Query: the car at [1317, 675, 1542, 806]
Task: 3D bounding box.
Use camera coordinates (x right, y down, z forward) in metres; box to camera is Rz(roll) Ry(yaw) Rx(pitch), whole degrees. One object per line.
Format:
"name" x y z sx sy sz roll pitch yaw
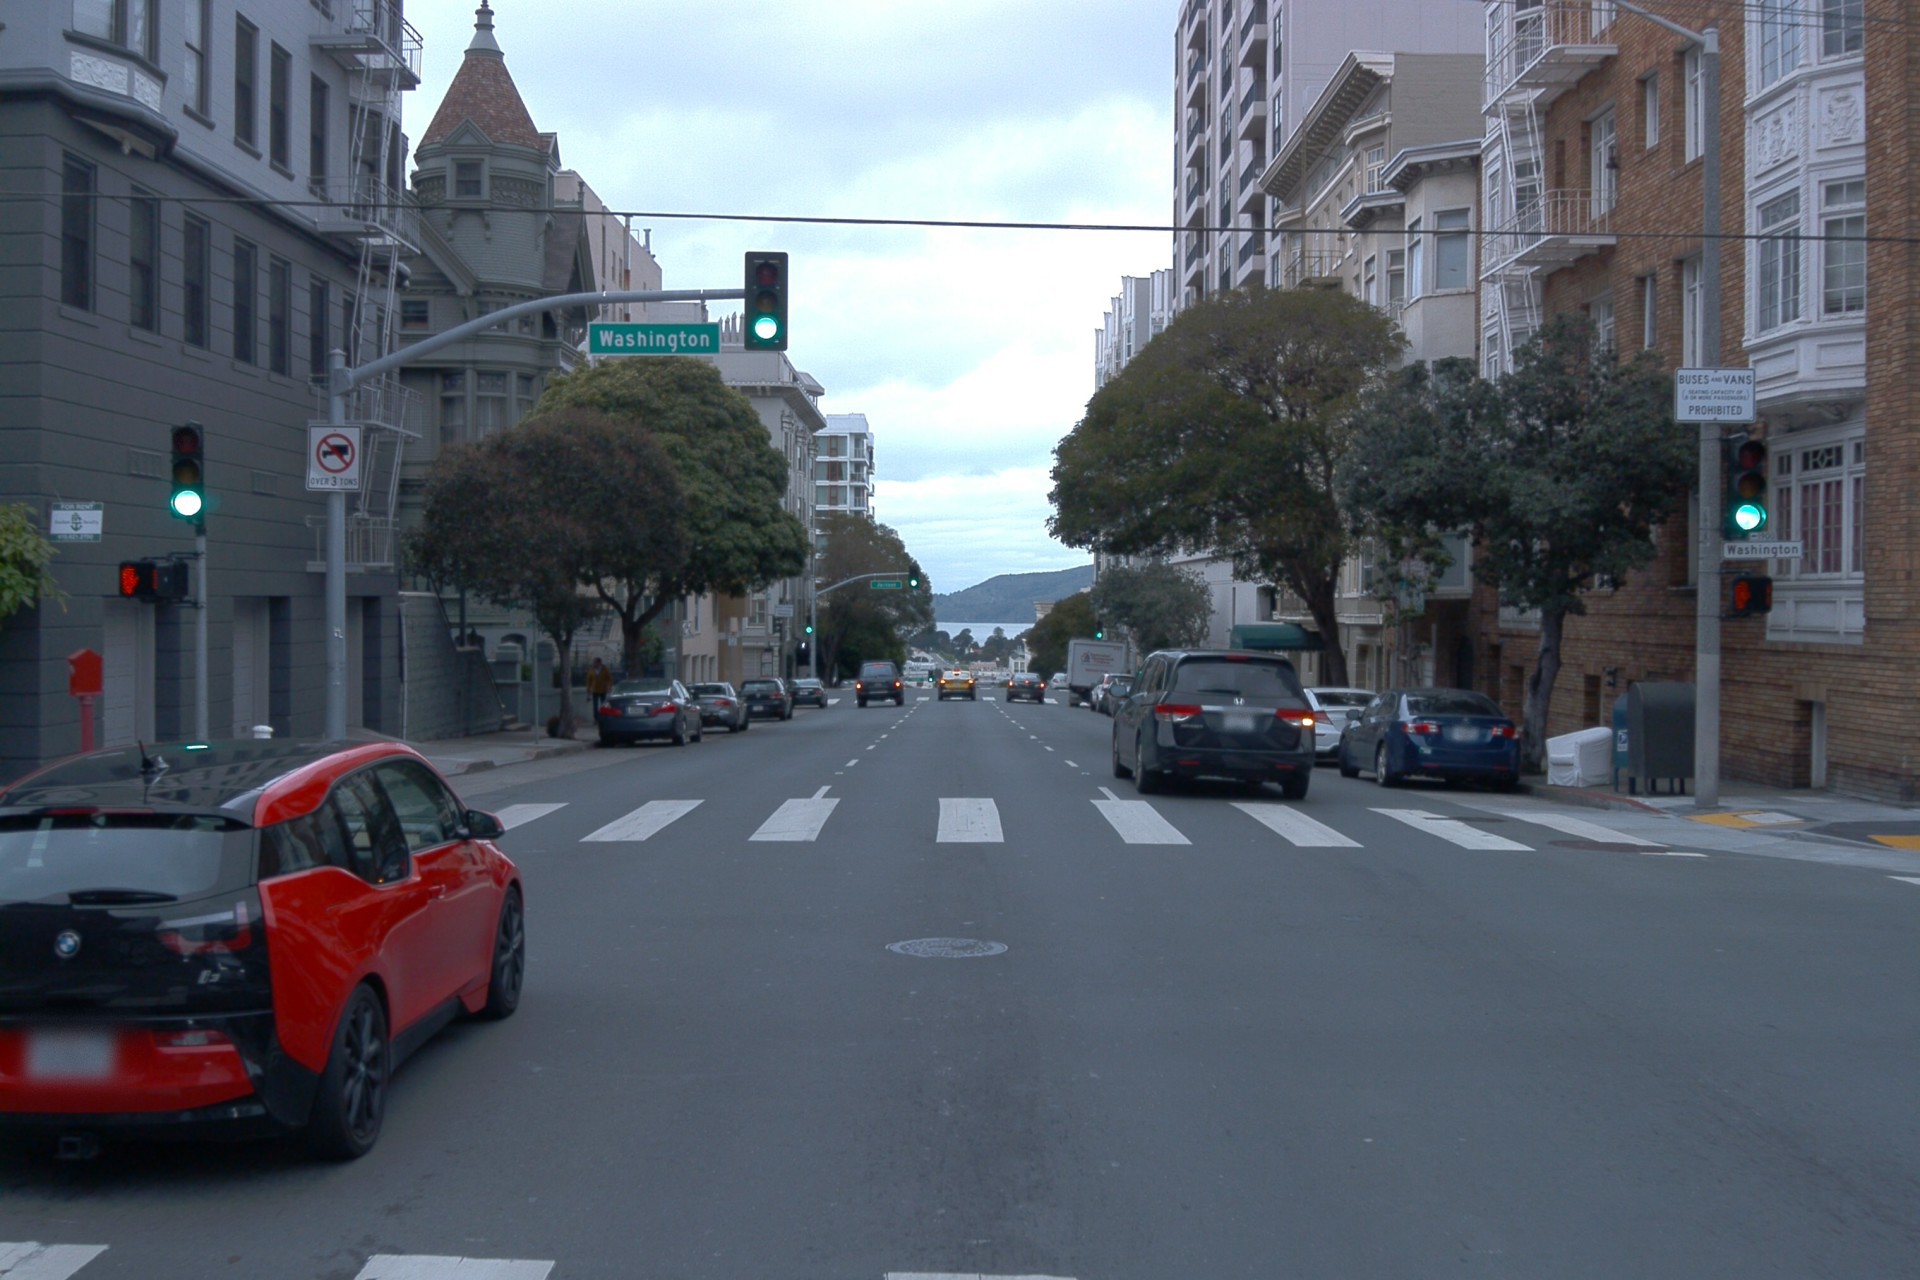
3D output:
"car" 6.718 1.393 29.915 2.139 1.620 4.922 0 0 0

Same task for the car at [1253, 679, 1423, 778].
"car" 6.683 1.525 36.760 2.110 1.530 4.722 0 0 -1

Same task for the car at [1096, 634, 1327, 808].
"car" 2.953 0.890 25.210 2.200 1.890 4.938 0 1 0
